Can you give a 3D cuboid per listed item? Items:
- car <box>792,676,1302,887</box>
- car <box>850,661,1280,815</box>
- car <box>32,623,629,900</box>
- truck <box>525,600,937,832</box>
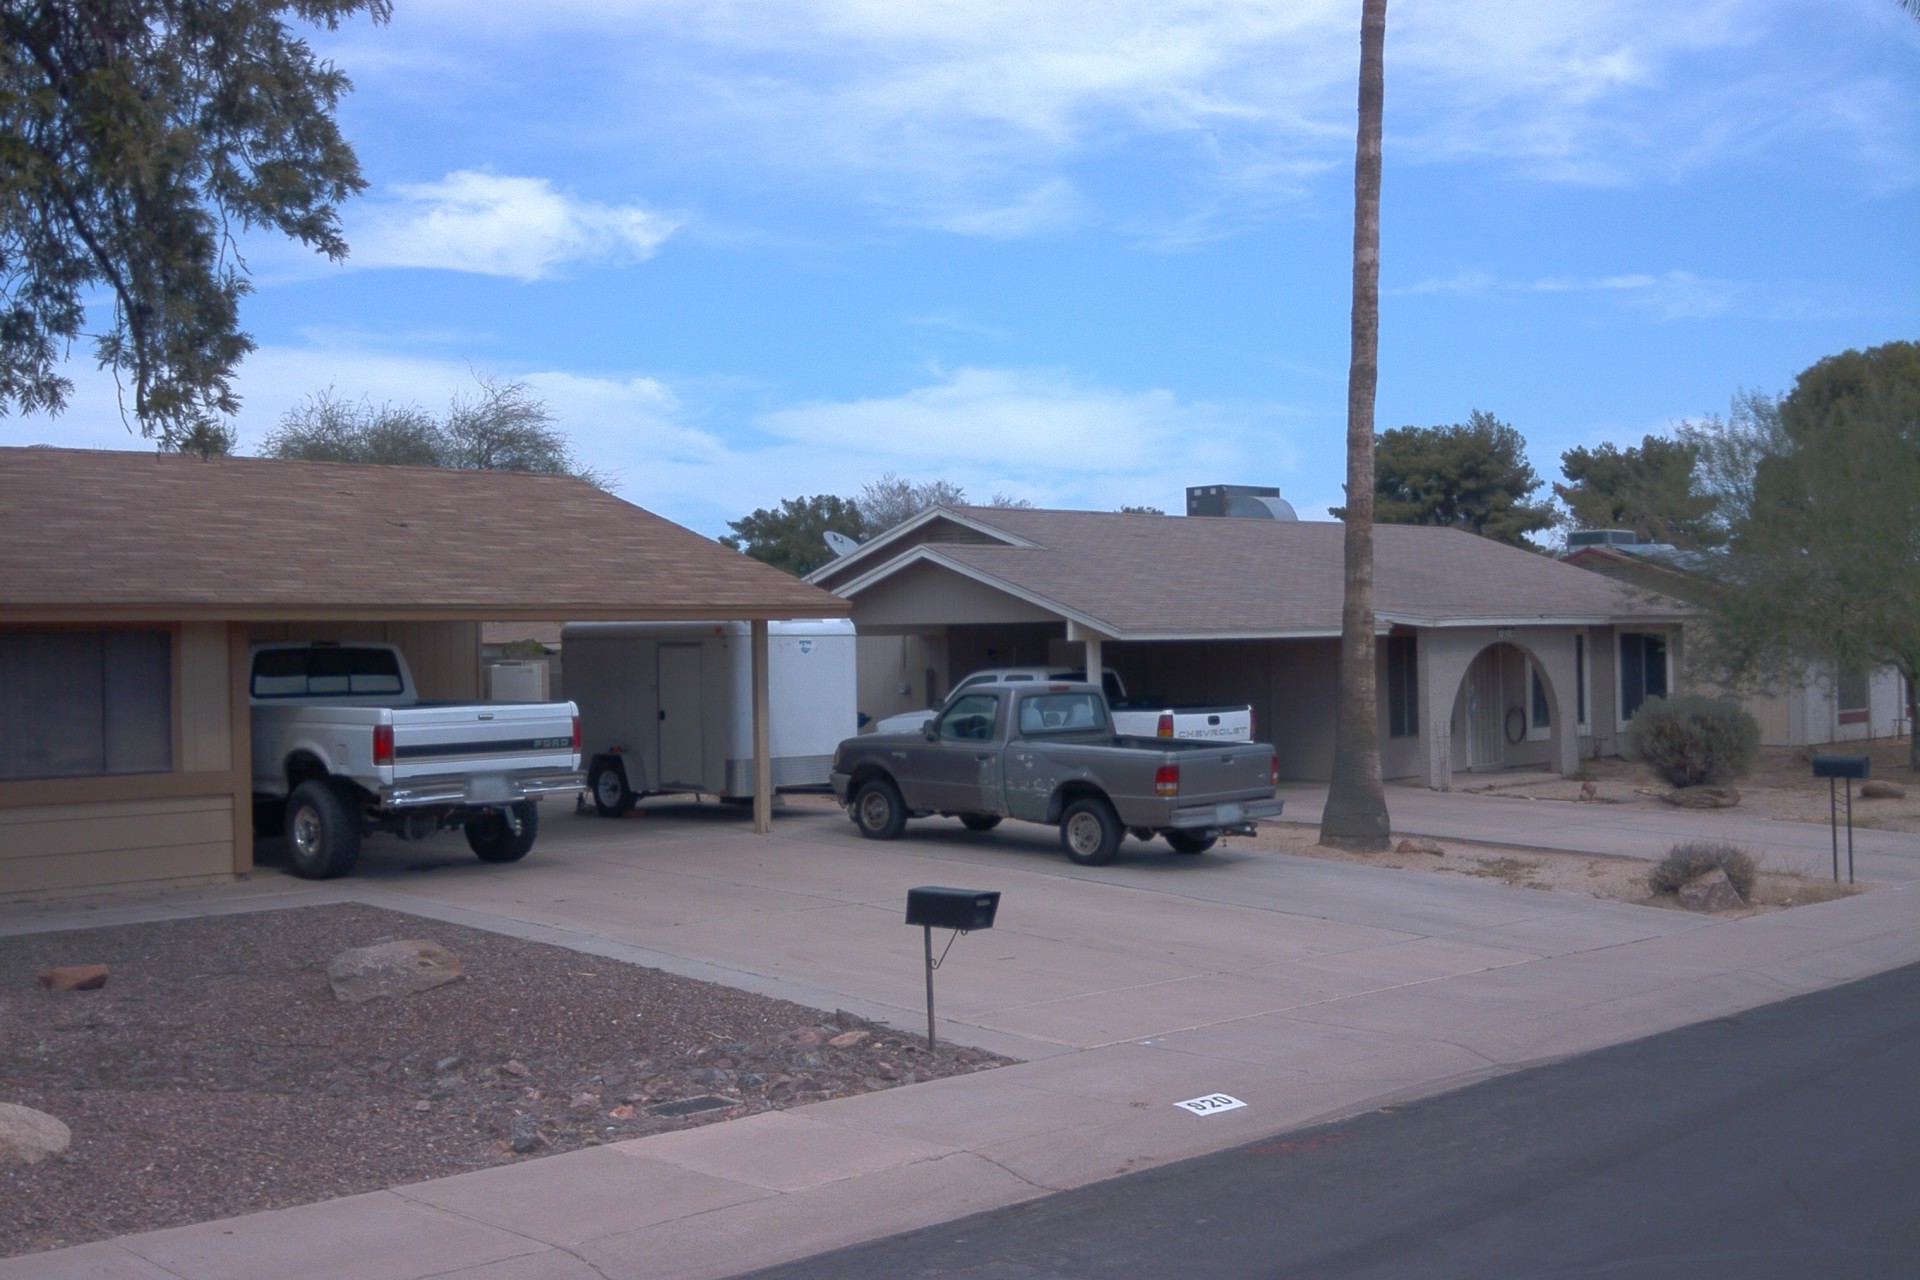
[{"bbox_3d":[0.739,1.261,20.442,4.849,1.760,2.087,0,0,45],"label":"car"},{"bbox_3d":[1.317,1.232,28.458,2.469,1.860,5.674,0,0,-45],"label":"car"},{"bbox_3d":[-6.111,0.963,19.554,2.567,2.170,6.579,0,0,-45],"label":"car"},{"bbox_3d":[-2.715,0.796,23.975,4.573,2.400,2.372,0,0,45],"label":"truck"}]
